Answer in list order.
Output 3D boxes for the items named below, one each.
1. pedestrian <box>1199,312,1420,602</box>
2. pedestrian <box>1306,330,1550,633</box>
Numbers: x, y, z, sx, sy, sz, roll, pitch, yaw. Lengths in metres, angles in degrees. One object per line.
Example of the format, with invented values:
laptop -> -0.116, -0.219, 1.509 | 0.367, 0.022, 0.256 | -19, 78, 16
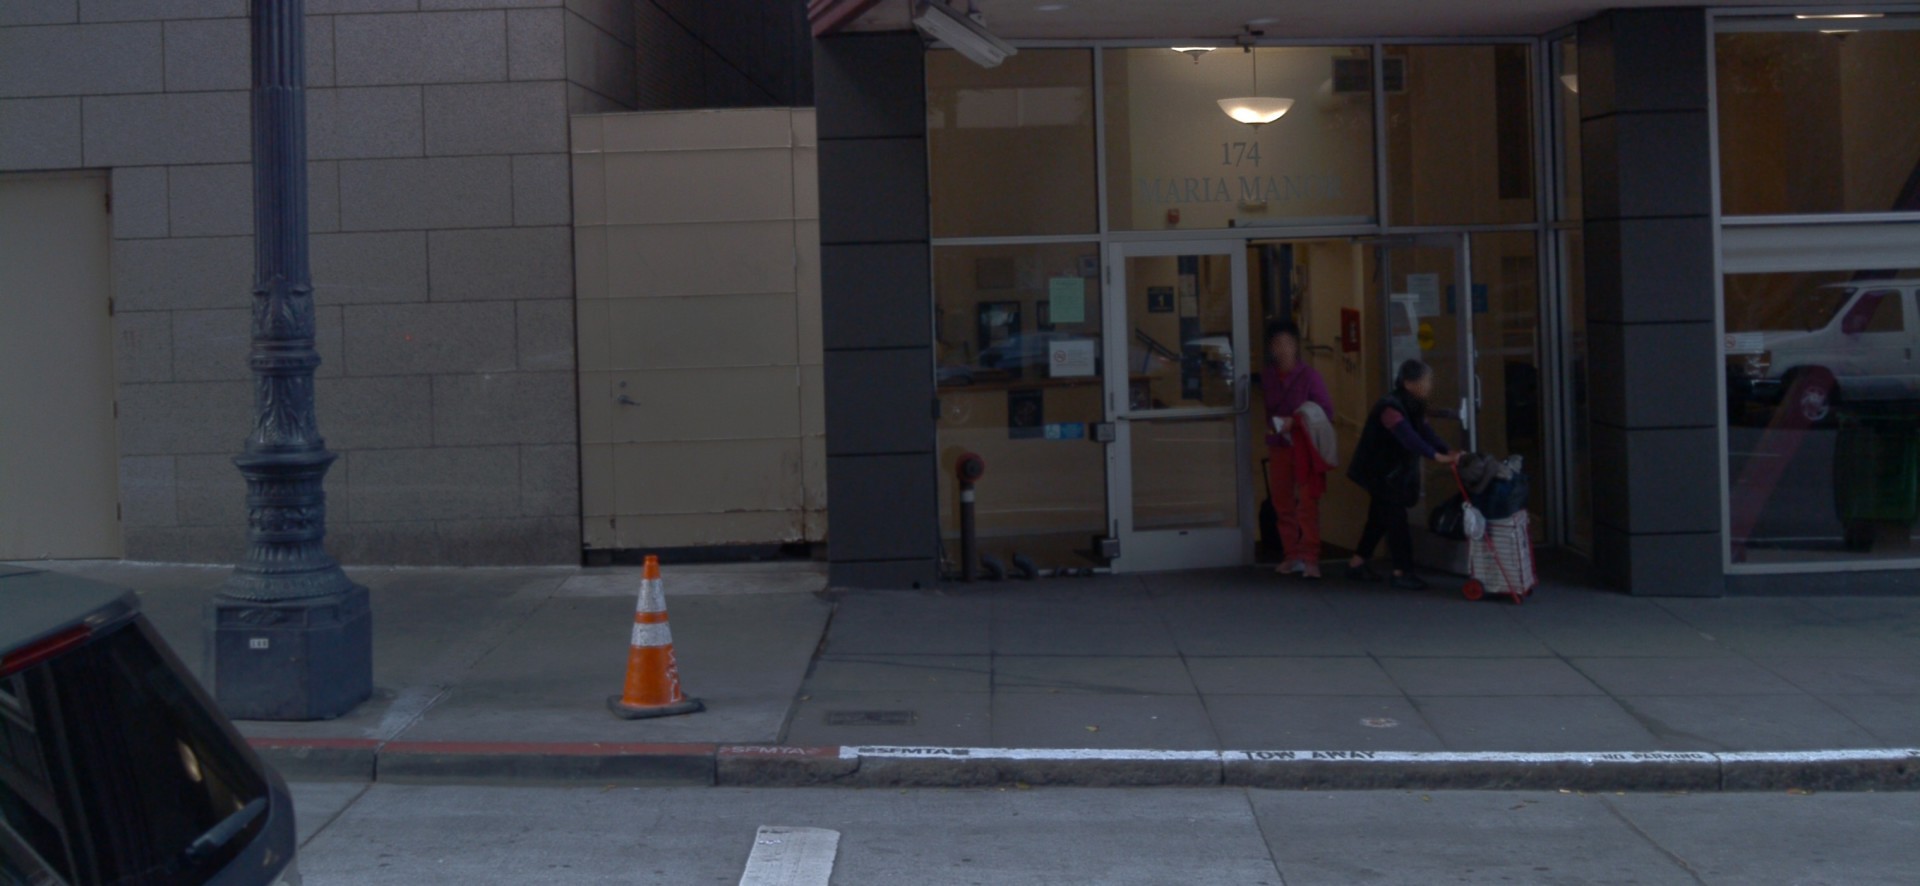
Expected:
pedestrian -> 2.186, 0.035, 13.086 | 1.102, 1.678, 1.532 | 0, 3, -2
pedestrian -> 2.771, 0.180, 12.224 | 0.670, 1.639, 1.260 | -1, 2, -44
